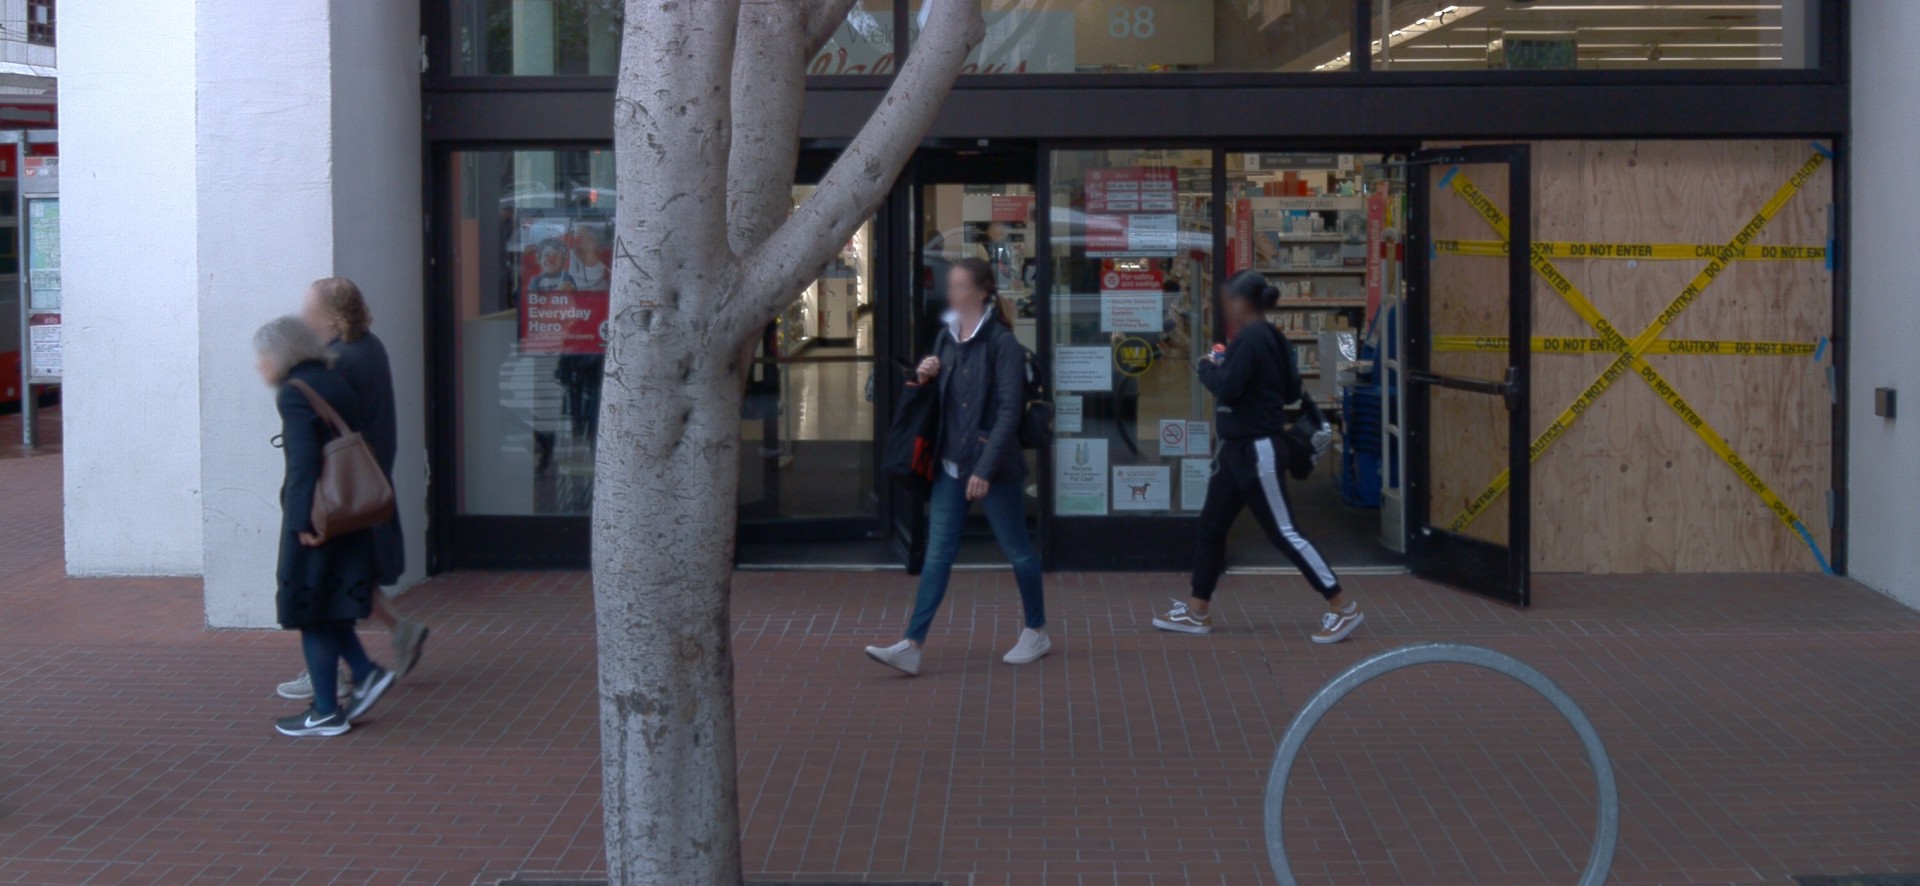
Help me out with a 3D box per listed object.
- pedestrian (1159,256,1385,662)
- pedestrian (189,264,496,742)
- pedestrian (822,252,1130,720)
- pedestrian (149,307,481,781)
[{"bbox_3d":[1.314,0.034,8.779,0.865,1.655,0.696,0,1,0],"label":"pedestrian"},{"bbox_3d":[-2.319,0.183,7.803,0.915,1.715,0.743,0,1,3],"label":"pedestrian"},{"bbox_3d":[0.064,0.102,8.186,0.902,1.715,0.833,-1,2,-42],"label":"pedestrian"},{"bbox_3d":[-2.257,0.311,7.287,0.893,1.555,0.783,0,1,4],"label":"pedestrian"}]
